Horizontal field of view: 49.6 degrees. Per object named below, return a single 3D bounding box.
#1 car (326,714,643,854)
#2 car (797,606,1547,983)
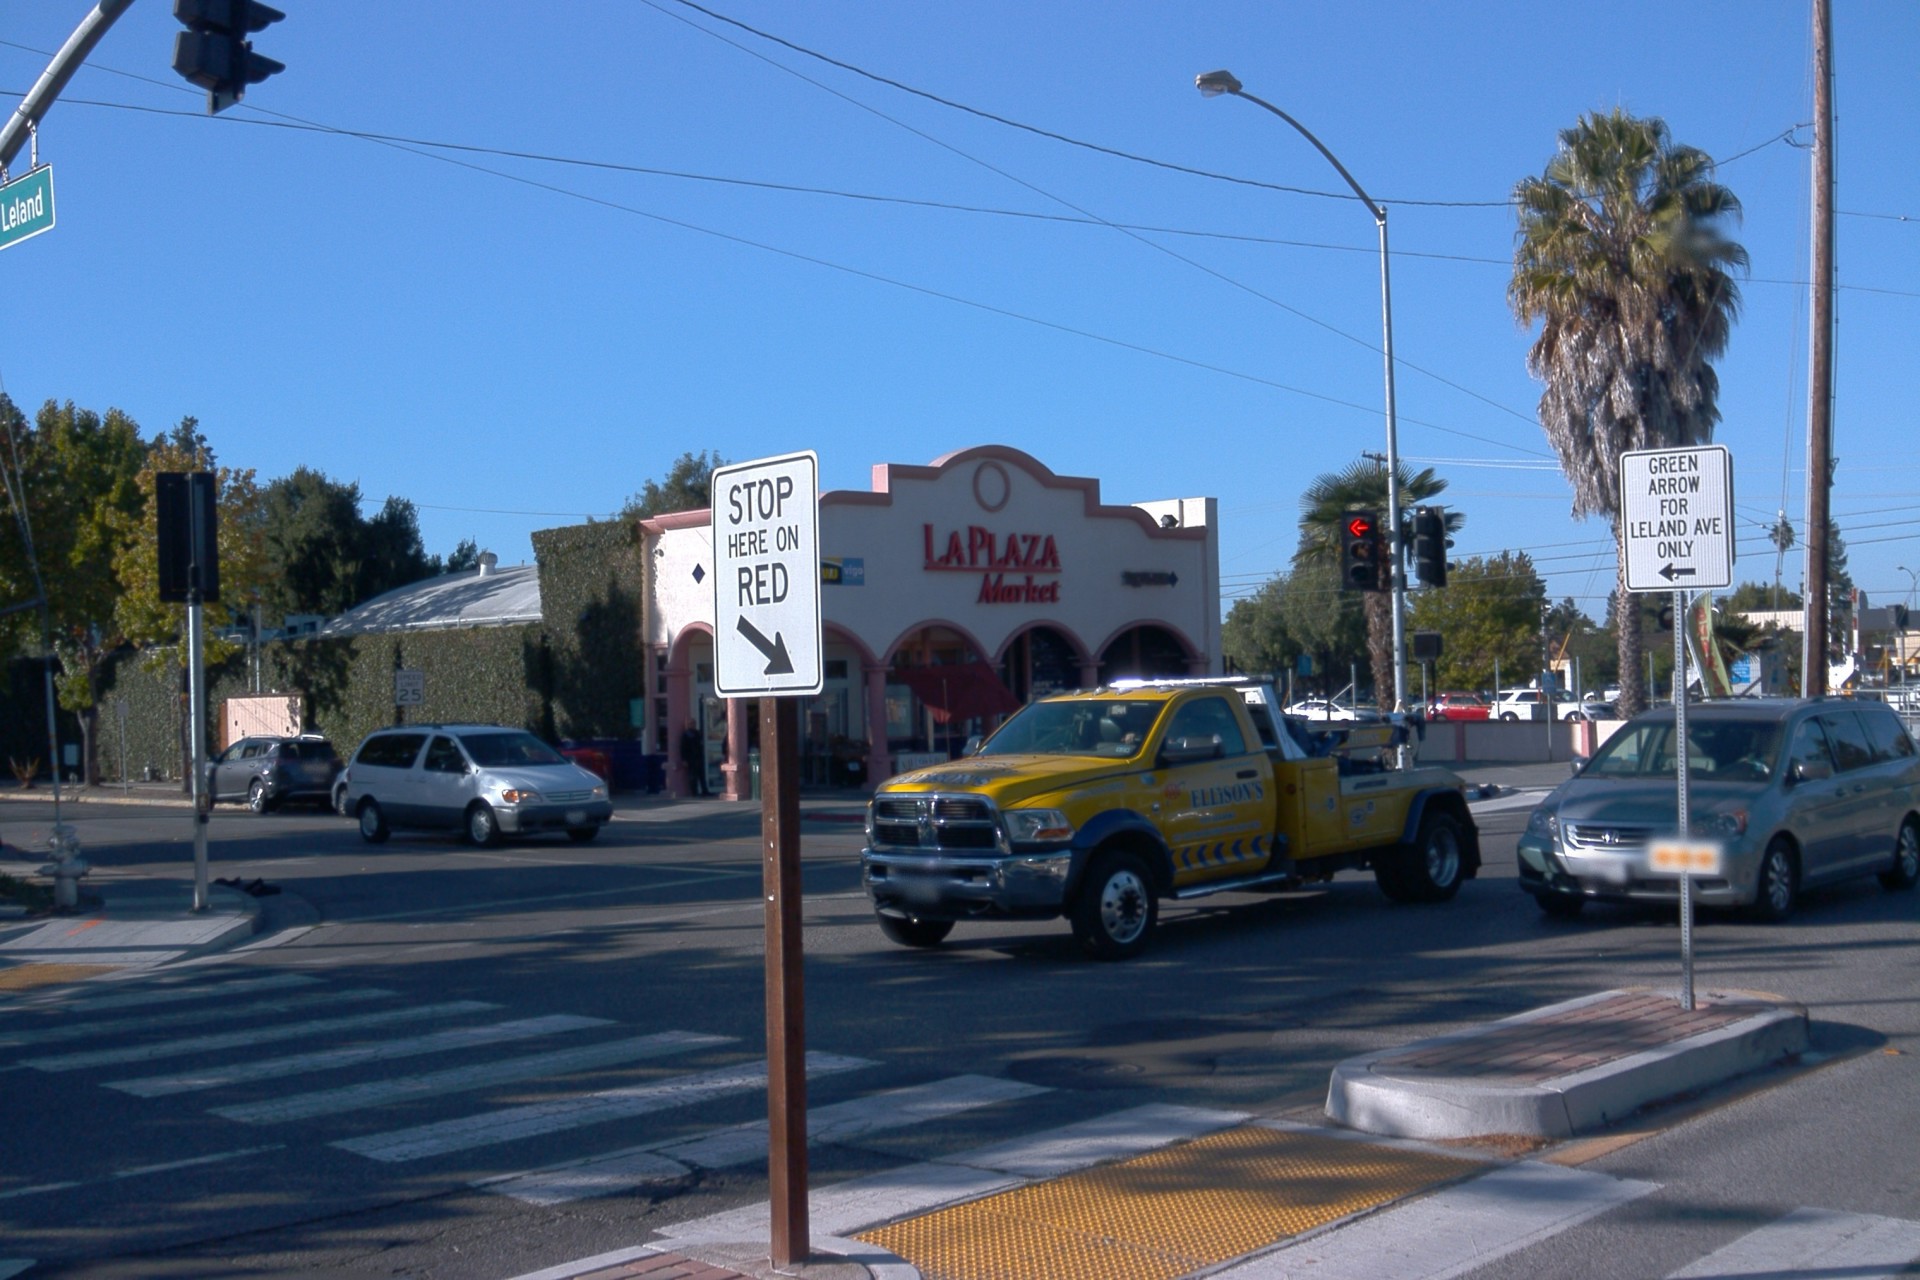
[{"bbox_3d":[-6.959,2.002,30.079,4.949,1.710,2.120,0,-1,44],"label":"car"},{"bbox_3d":[2.108,1.081,17.668,2.619,2.570,7.051,0,-1,43],"label":"car"}]
